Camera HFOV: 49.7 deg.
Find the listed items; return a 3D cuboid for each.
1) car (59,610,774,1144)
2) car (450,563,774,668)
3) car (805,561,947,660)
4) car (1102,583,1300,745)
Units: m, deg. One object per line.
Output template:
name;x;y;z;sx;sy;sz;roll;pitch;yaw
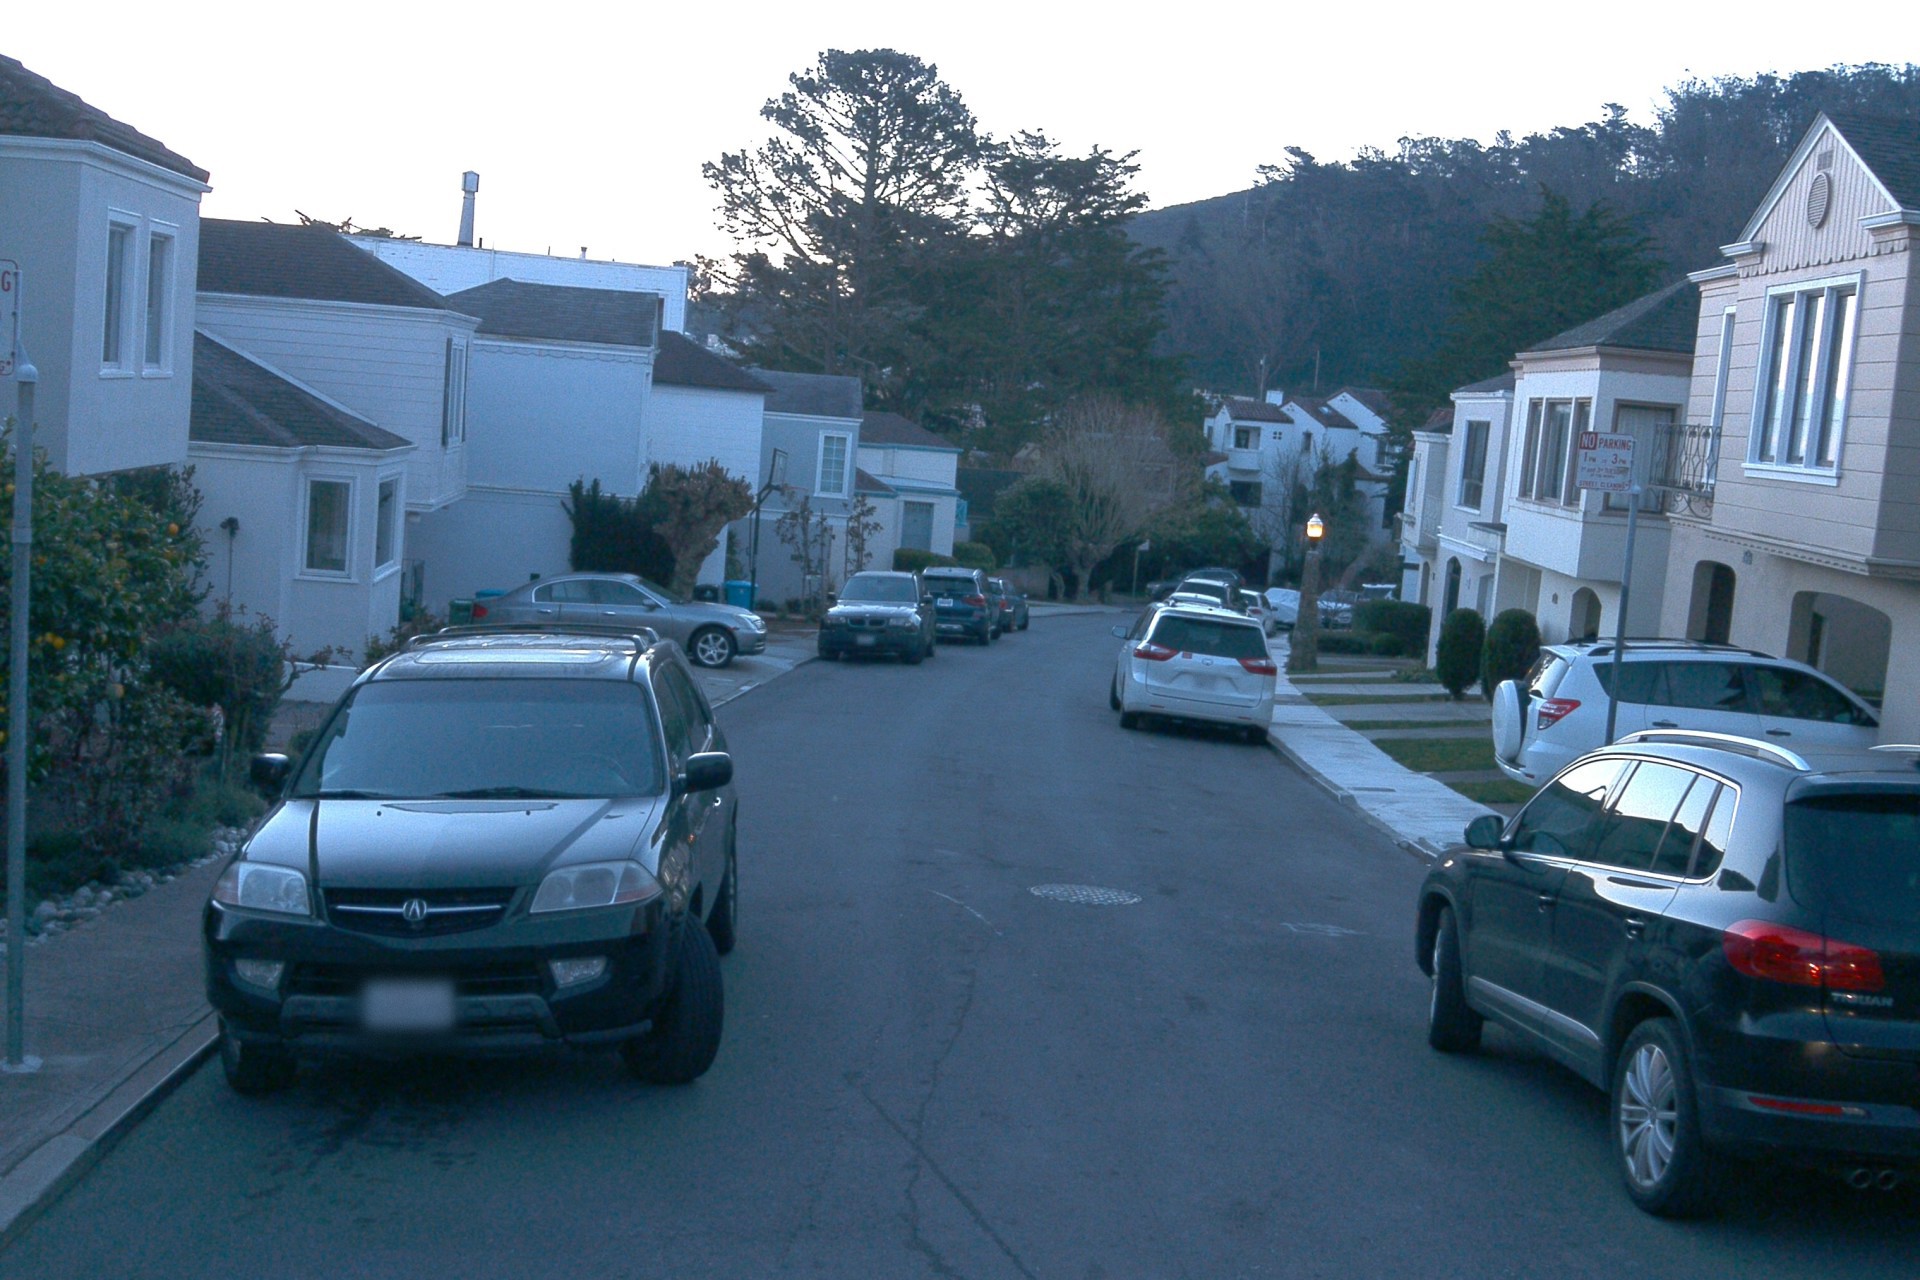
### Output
car;-2.151;0.830;9.847;2.326;1.880;4.864;0;0;-3
car;-5.406;-0.381;32.698;4.769;1.580;1.989;0;0;-1
car;-1.493;-0.528;38.735;2.092;1.740;4.533;0;0;5
car;3.243;0.298;28.944;2.374;2.050;5.078;0;0;2
